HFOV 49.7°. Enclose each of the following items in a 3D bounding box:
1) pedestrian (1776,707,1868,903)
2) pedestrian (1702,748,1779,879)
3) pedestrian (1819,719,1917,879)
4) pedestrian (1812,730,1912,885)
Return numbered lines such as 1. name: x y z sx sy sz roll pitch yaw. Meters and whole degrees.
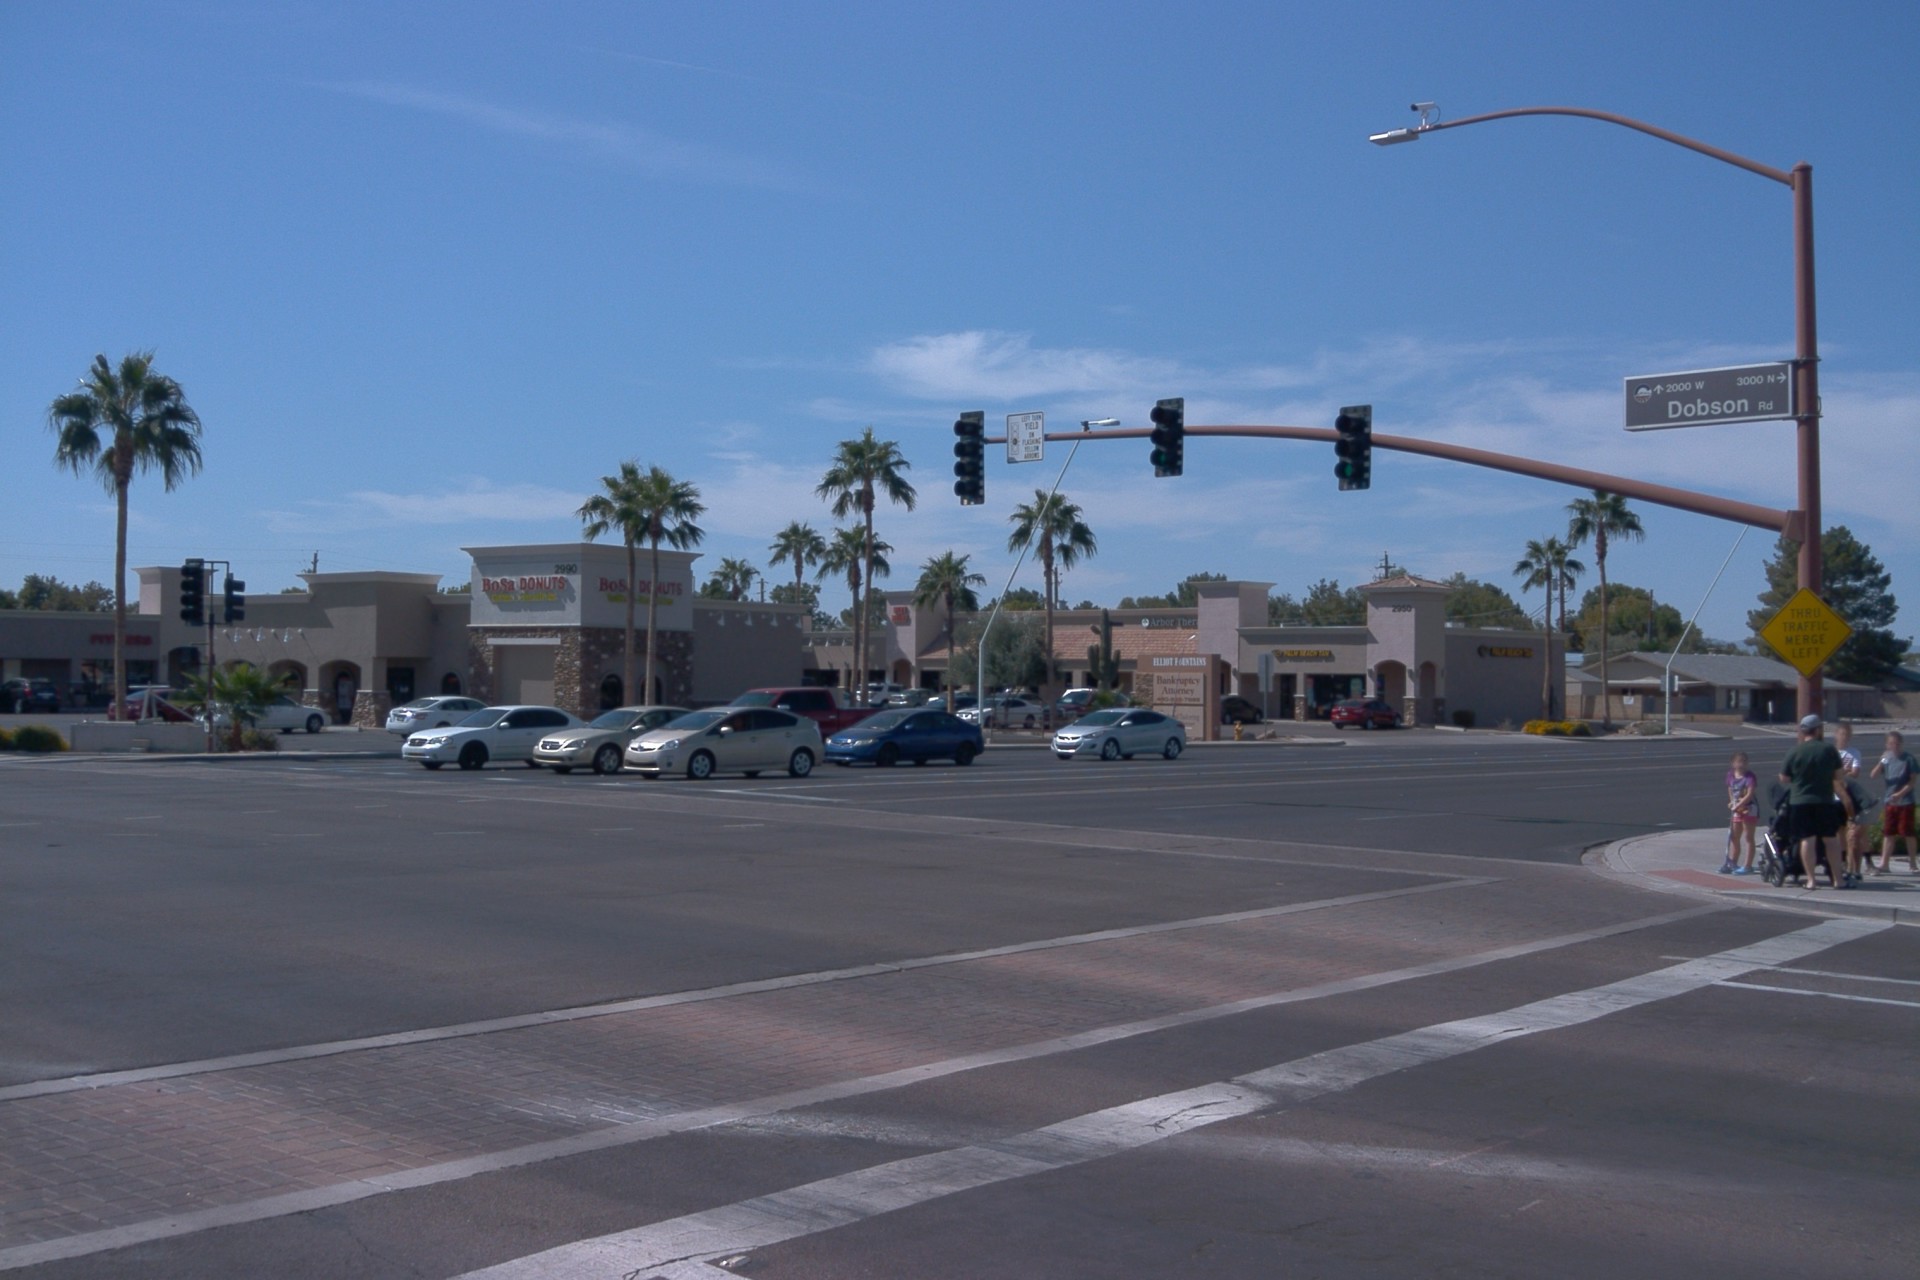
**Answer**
1. pedestrian: 8.752 1.661 21.056 0.762 1.940 0.566 0 0 11
2. pedestrian: 8.727 1.927 23.165 0.650 1.400 0.561 0 -1 42
3. pedestrian: 9.966 1.731 22.759 0.695 1.710 0.690 0 0 -20
4. pedestrian: 9.546 1.755 21.929 0.755 1.580 0.643 0 -1 -32
